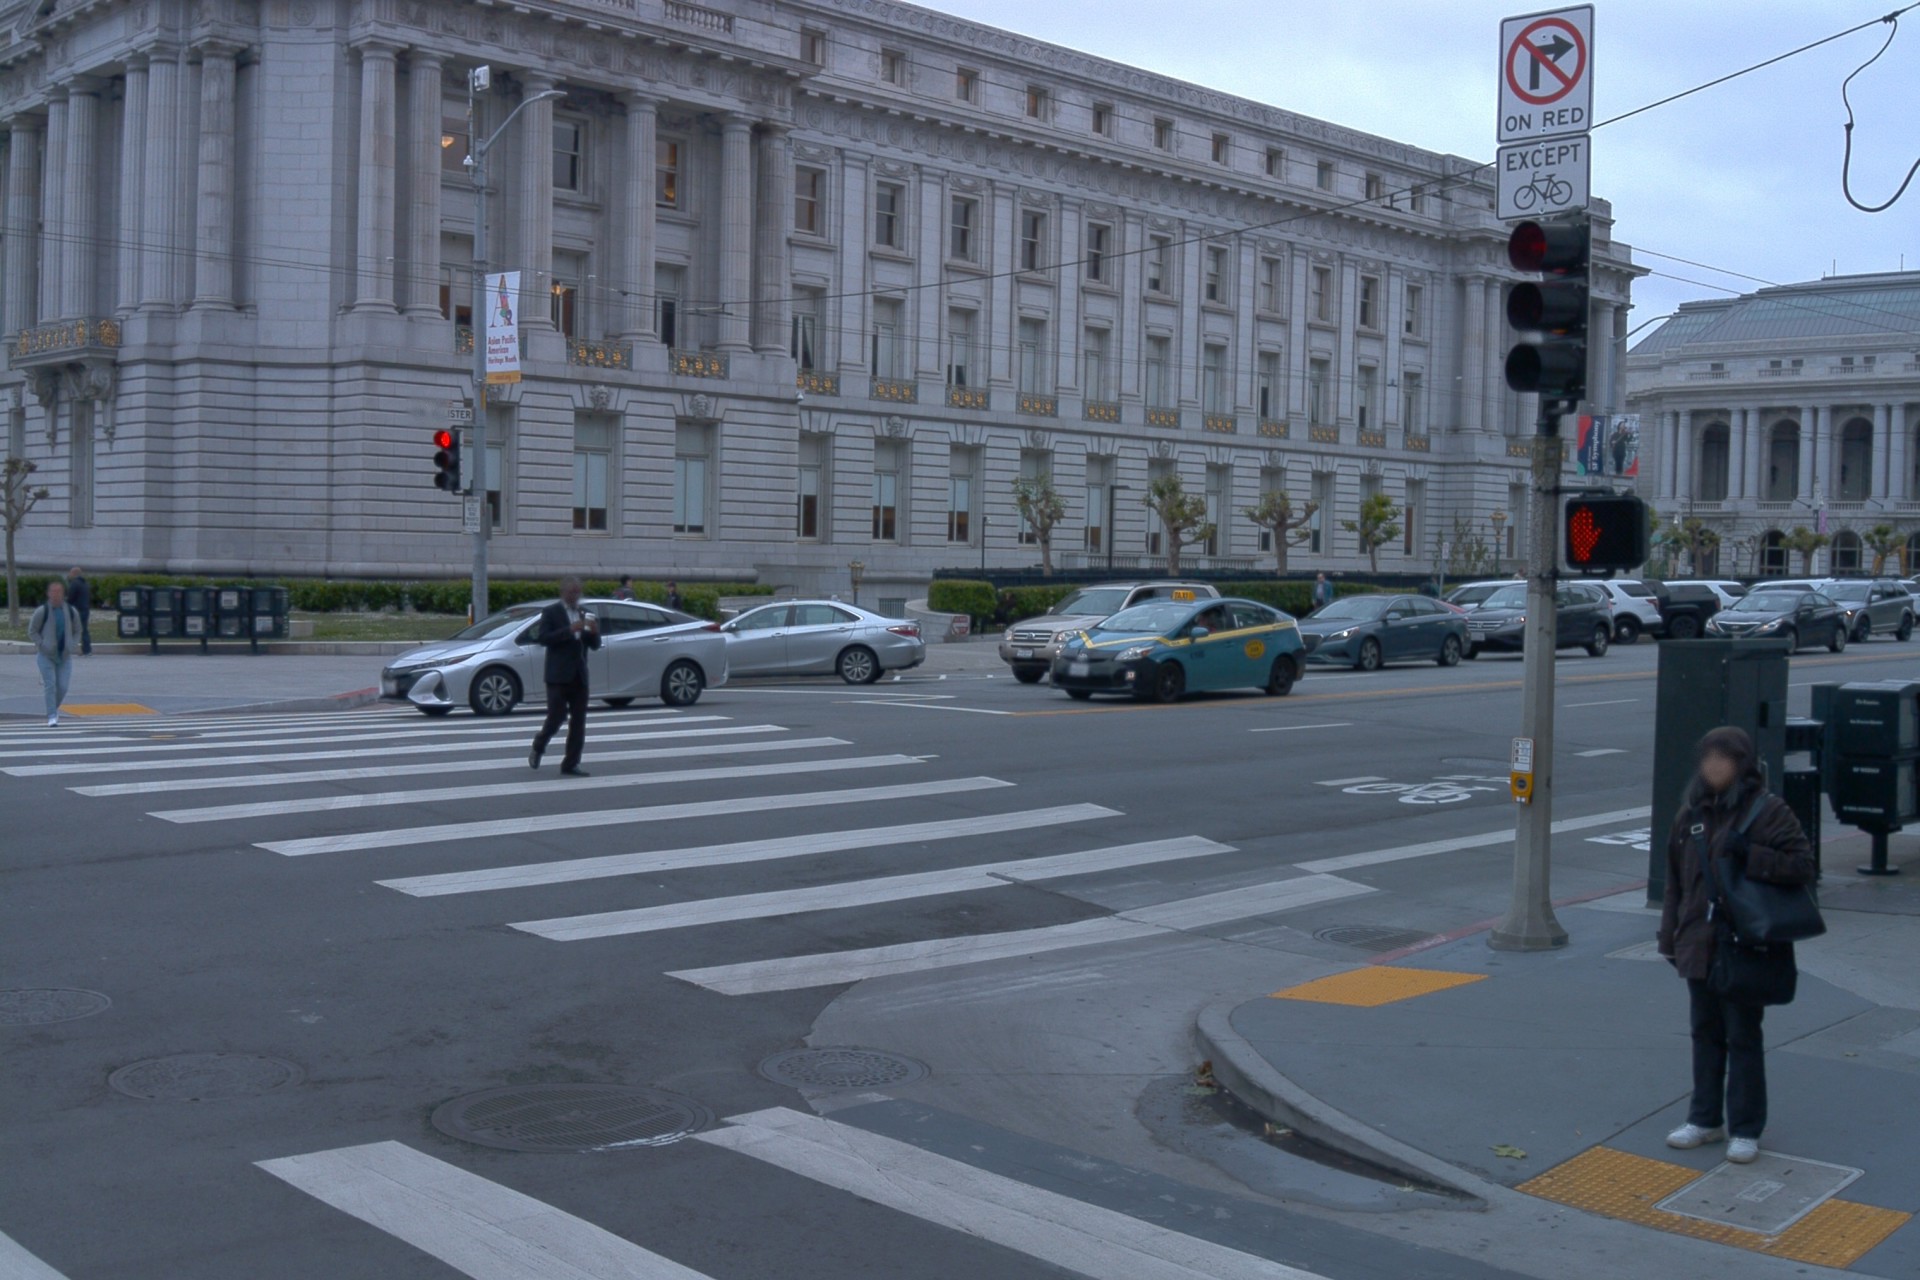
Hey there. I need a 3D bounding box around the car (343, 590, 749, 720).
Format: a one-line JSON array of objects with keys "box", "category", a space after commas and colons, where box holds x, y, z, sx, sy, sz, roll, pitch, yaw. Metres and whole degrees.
[{"box": [-5.269, 0.153, 26.646, 4.666, 1.540, 2.143, -1, 1, -41], "category": "car"}]

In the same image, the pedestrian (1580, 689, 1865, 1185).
[{"box": [2.864, 1.054, 7.765, 0.805, 1.710, 0.666, 1, 1, 43], "category": "pedestrian"}]

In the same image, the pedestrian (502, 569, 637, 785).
[{"box": [-3.458, 0.312, 18.283, 0.806, 1.850, 0.957, -1, 1, -39], "category": "pedestrian"}]

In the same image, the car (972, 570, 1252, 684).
[{"box": [2.640, -0.225, 35.022, 2.180, 1.800, 4.766, 1, 1, 44], "category": "car"}]

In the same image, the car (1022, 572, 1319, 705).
[{"box": [3.118, -0.038, 30.020, 2.040, 1.787, 4.328, 1, 1, 44], "category": "car"}]

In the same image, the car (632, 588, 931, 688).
[{"box": [-3.019, -0.043, 35.639, 4.904, 1.667, 2.106, 0, 1, 4], "category": "car"}]

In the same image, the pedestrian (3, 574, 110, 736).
[{"box": [-10.630, 0.168, 24.296, 0.805, 1.850, 1.160, -1, 1, -42], "category": "pedestrian"}]
